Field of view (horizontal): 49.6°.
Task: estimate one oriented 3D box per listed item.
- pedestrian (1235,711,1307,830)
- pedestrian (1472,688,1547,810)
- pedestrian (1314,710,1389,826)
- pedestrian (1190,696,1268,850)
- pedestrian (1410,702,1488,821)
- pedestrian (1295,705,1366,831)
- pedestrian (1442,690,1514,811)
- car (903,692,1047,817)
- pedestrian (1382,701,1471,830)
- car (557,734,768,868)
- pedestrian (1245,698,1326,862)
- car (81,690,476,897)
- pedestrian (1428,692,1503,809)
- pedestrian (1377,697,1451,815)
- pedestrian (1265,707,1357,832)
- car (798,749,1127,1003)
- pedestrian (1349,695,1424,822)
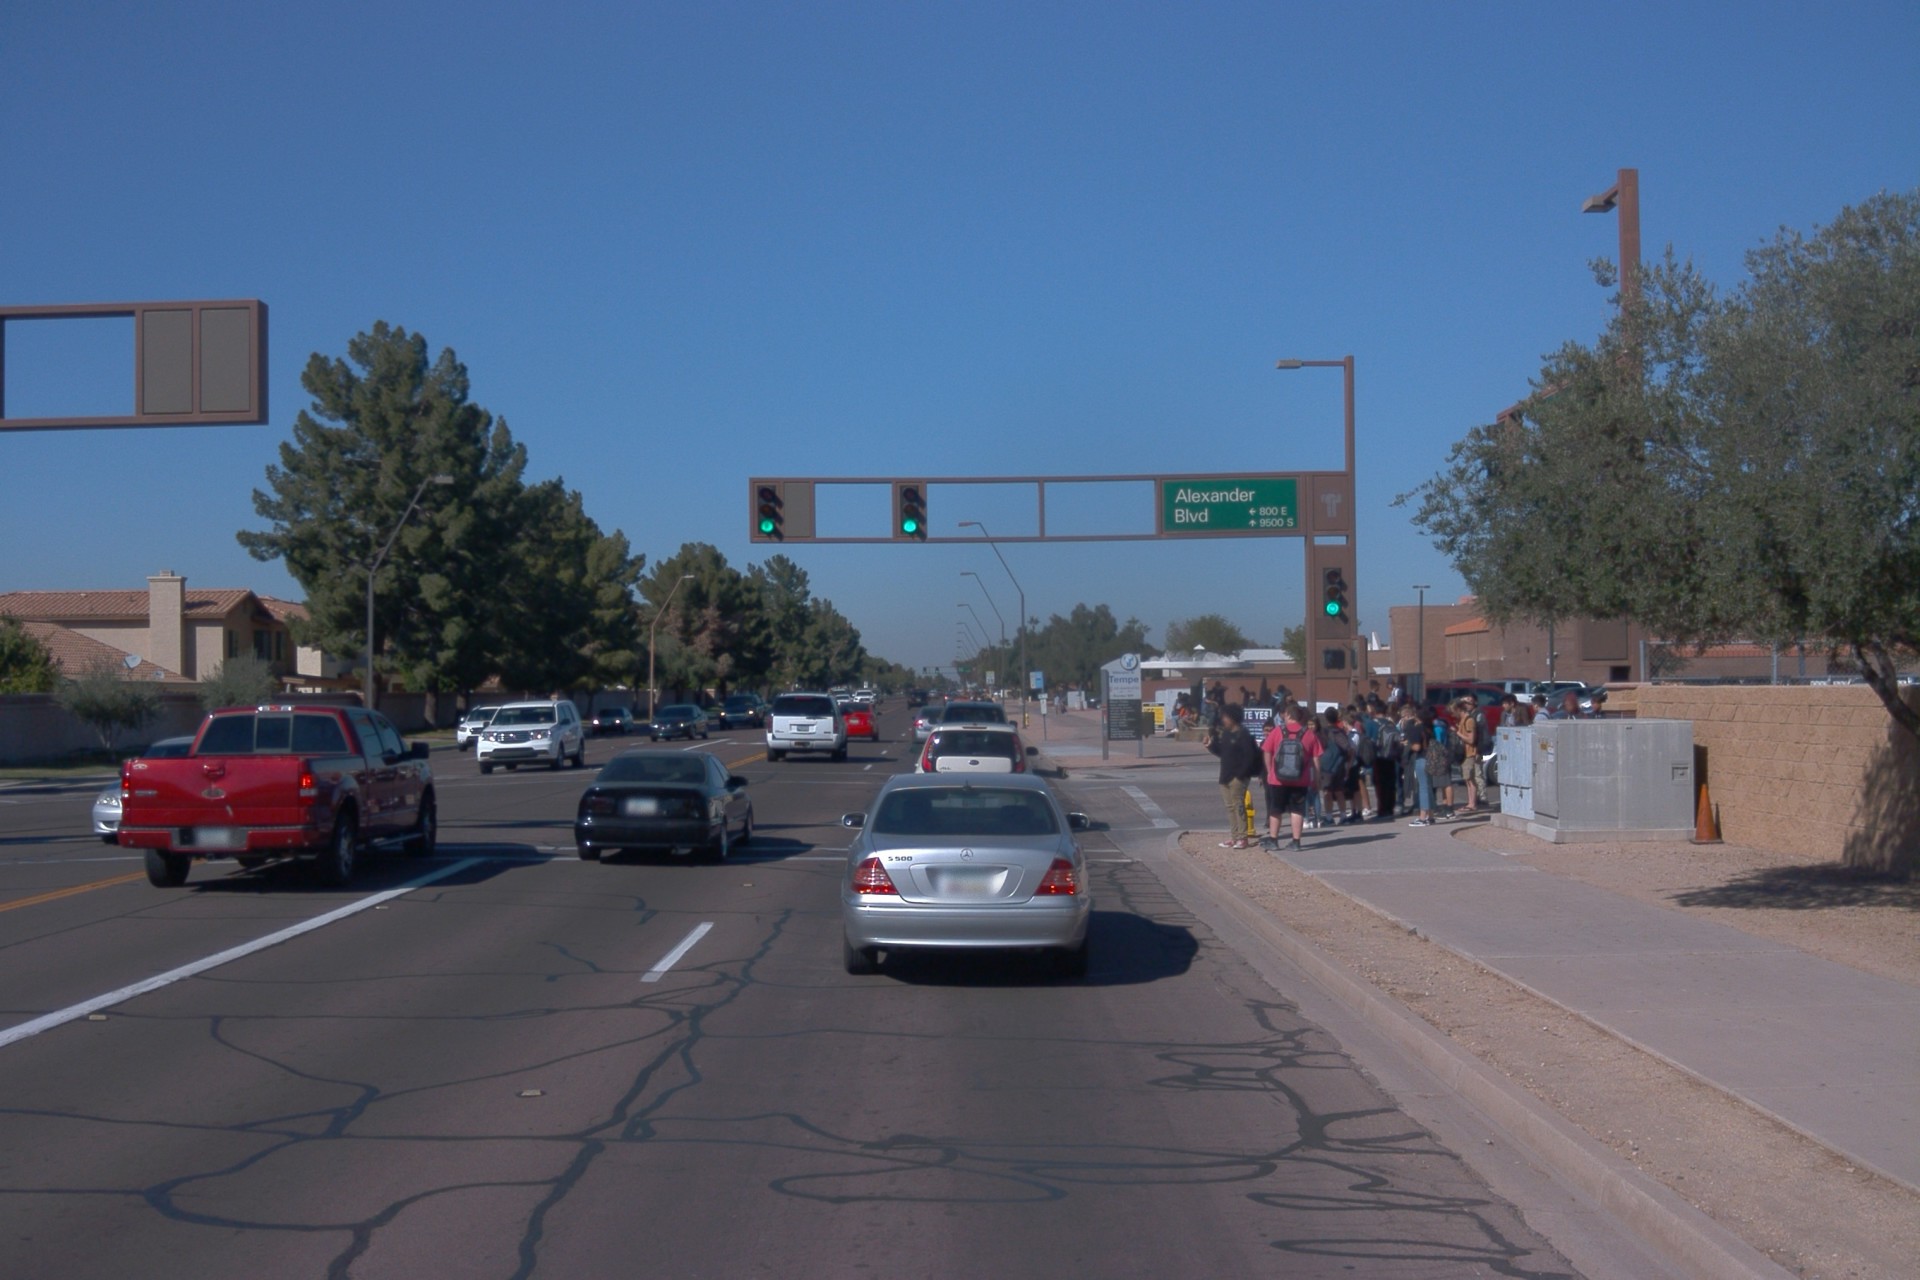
[{"bbox_3d":[4.525,1.893,30.297,0.887,1.700,0.860,0,-1,-3],"label":"pedestrian"},{"bbox_3d":[8.411,1.656,31.837,0.812,1.830,0.806,0,-1,-16],"label":"pedestrian"},{"bbox_3d":[5.660,1.840,30.066,0.887,1.650,0.860,0,-1,-3],"label":"pedestrian"},{"bbox_3d":[3.388,1.650,26.147,0.822,1.890,0.887,0,-1,18],"label":"pedestrian"},{"bbox_3d":[7.034,1.741,29.965,0.887,1.680,0.860,0,-1,-3],"label":"pedestrian"},{"bbox_3d":[5.272,1.812,29.621,0.860,1.750,0.887,0,-1,0],"label":"pedestrian"},{"bbox_3d":[8.012,1.695,32.170,0.817,1.830,0.731,0,-1,-16],"label":"pedestrian"},{"bbox_3d":[0.239,1.685,31.867,2.056,1.760,4.487,0,-1,1],"label":"car"},{"bbox_3d":[6.365,1.691,28.368,0.844,1.710,0.856,1,-1,-44],"label":"pedestrian"},{"bbox_3d":[-3.589,1.930,25.845,1.915,1.410,4.397,0,-1,1],"label":"car"},{"bbox_3d":[3.909,1.656,24.956,0.877,1.910,0.878,0,-1,15],"label":"pedestrian"},{"bbox_3d":[-7.268,1.553,23.023,2.581,1.980,5.796,0,-1,-1],"label":"car"},{"bbox_3d":[7.599,1.656,31.289,0.887,1.730,0.860,0,-1,-3],"label":"pedestrian"},{"bbox_3d":[6.762,1.711,30.991,0.887,1.730,0.860,0,-1,-3],"label":"pedestrian"},{"bbox_3d":[4.882,1.782,28.925,1.032,1.670,0.874,0,-1,29],"label":"pedestrian"},{"bbox_3d":[0.038,1.747,16.607,2.265,1.600,4.514,0,-1,1],"label":"car"},{"bbox_3d":[6.236,1.725,30.456,0.887,1.820,0.860,0,-1,-3],"label":"pedestrian"}]
